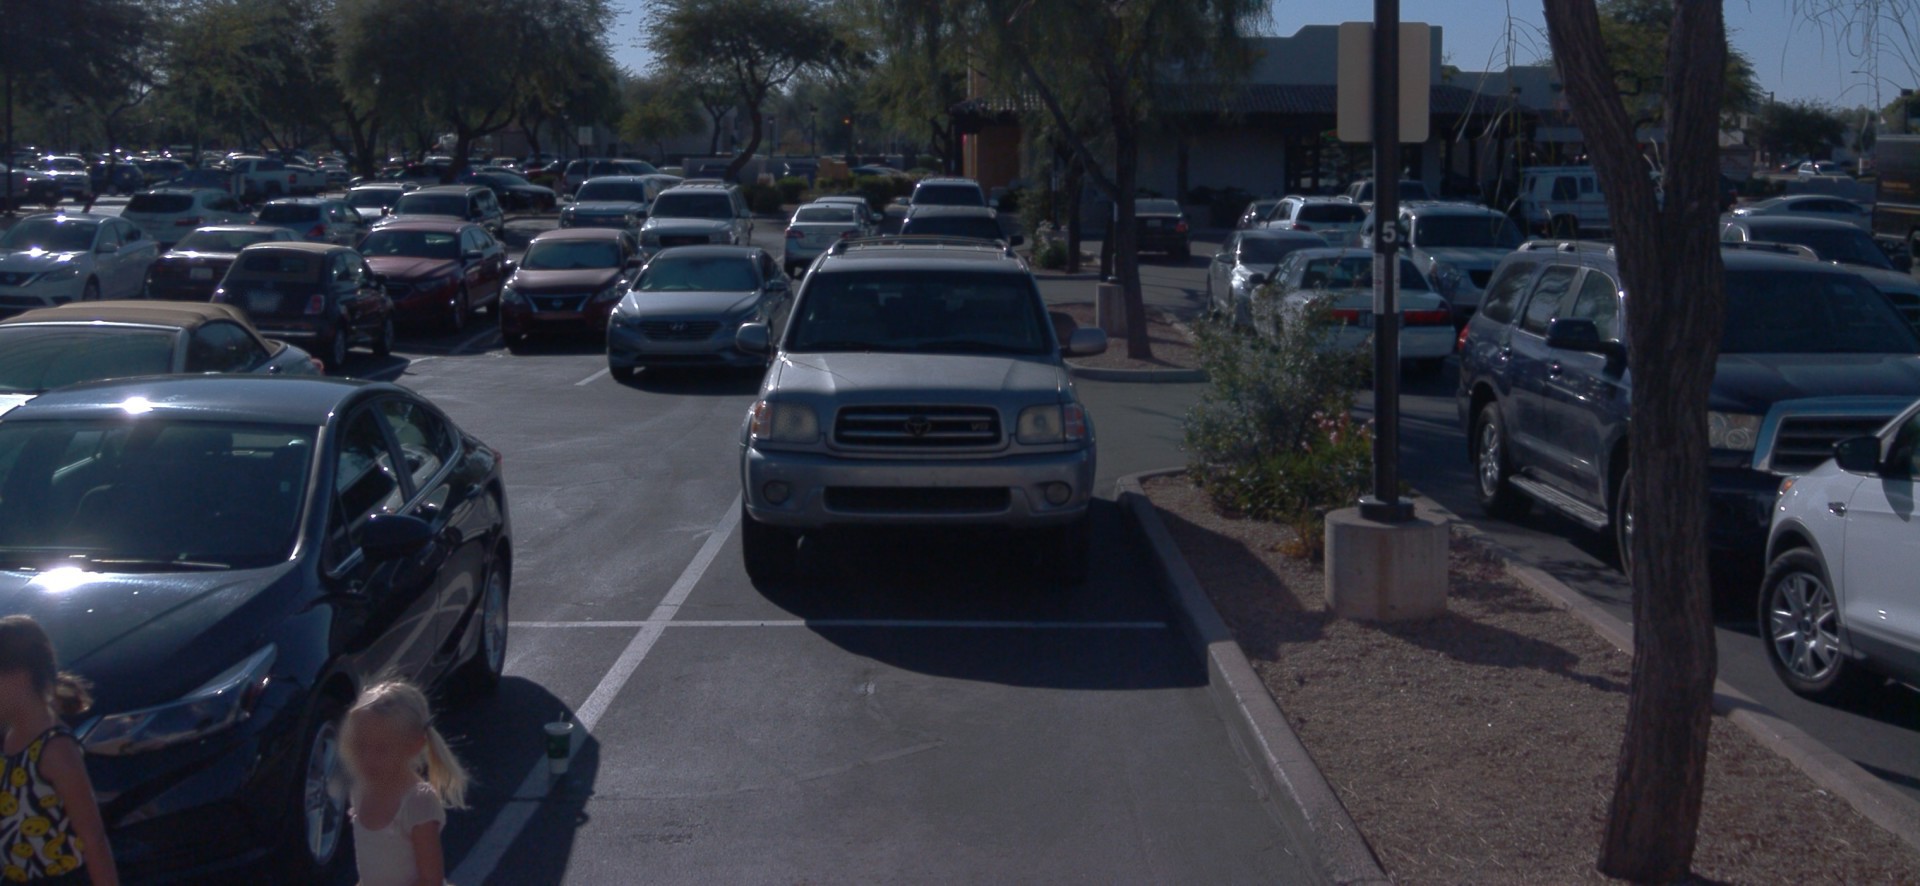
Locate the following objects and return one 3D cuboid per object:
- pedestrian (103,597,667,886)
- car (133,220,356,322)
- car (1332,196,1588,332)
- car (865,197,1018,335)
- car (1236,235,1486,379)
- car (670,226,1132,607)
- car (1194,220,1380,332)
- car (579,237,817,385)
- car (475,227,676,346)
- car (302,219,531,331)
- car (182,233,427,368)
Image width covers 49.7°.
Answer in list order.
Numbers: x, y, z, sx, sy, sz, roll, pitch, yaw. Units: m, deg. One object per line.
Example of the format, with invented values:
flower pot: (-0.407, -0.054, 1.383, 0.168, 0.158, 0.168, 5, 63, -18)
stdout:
pedestrian: (-1.223, 1.035, 4.473, 0.824, 1.198, 0.825, 2, 3, 33)
car: (-10.906, -2.702, 31.944, 1.905, 1.433, 4.261, 1, 6, 1)
car: (7.569, -2.816, 32.050, 2.482, 1.891, 5.236, 0, 5, -3)
car: (-0.185, -2.753, 31.613, 2.086, 1.901, 5.342, 1, 5, 2)
car: (4.859, -1.794, 25.945, 2.256, 1.562, 5.127, 1, 6, 1)
car: (-0.293, -0.406, 13.386, 2.383, 1.941, 5.207, 1, 5, 0)
car: (4.865, -2.590, 31.504, 2.127, 1.553, 4.507, 1, 6, 0)
car: (-3.105, -1.718, 25.651, 2.180, 1.602, 4.850, 1, 6, 2)
car: (-5.568, -2.373, 30.631, 2.010, 1.593, 4.474, 1, 5, 1)
car: (-8.180, -2.630, 31.708, 2.086, 1.562, 4.913, 1, 6, 1)
car: (-8.189, -1.870, 26.289, 1.730, 1.533, 3.845, 1, 5, 2)
